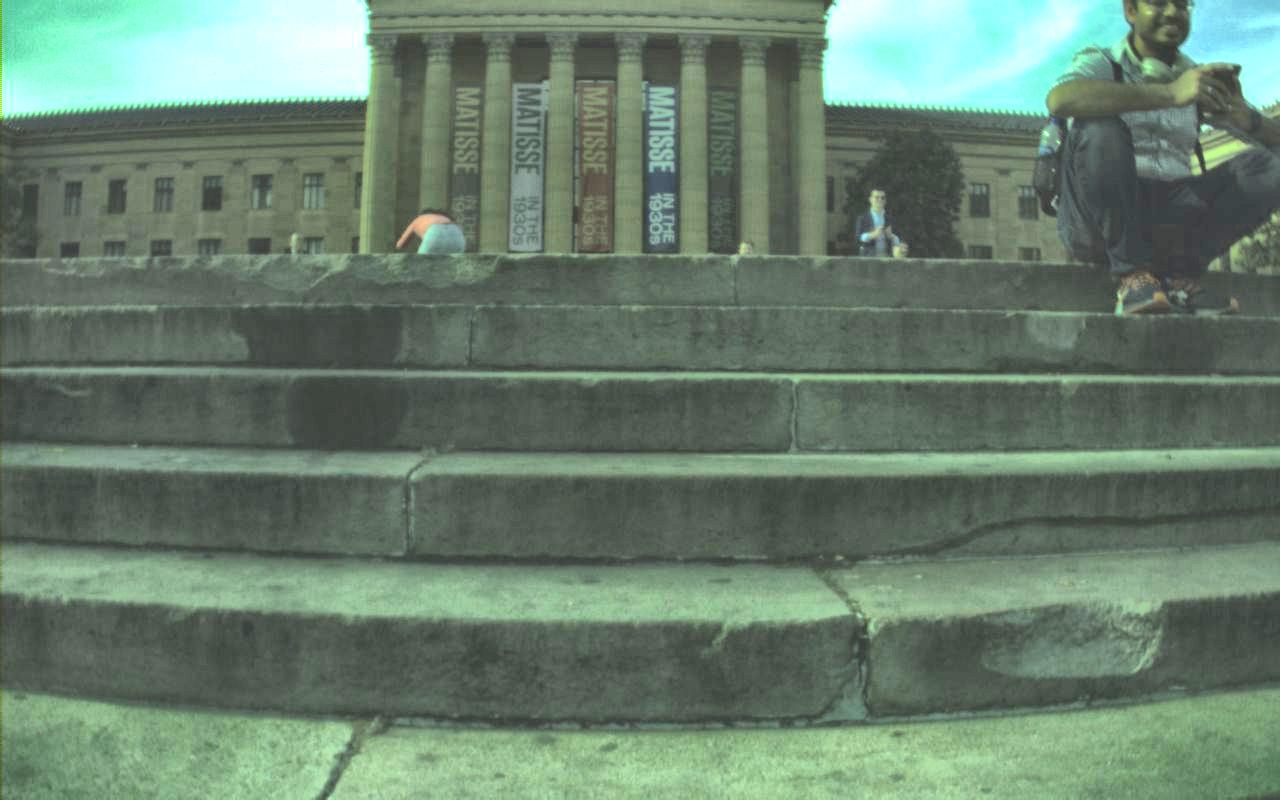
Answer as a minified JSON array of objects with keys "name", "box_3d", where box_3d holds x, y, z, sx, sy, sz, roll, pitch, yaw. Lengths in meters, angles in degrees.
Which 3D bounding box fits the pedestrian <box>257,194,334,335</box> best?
[{"name":"pedestrian","box_3d":[-4.331,-1.658,15.261,0.782,1.695,0.771,0,0,-30]}]

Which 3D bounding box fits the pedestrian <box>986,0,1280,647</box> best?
[{"name":"pedestrian","box_3d":[1.285,-0.374,2.882,0.815,1.780,0.985,0,0,14]}]

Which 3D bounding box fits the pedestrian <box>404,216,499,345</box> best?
[{"name":"pedestrian","box_3d":[-2.371,-1.458,15.625,0.845,1.540,0.861,0,0,-41]}]

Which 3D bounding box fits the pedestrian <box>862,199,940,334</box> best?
[{"name":"pedestrian","box_3d":[3.273,-1.649,15.597,0.748,1.615,0.745,0,0,-13]}]

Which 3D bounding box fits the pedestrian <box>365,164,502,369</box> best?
[{"name":"pedestrian","box_3d":[-1.806,-1.122,10.871,0.854,1.706,0.826,1,0,40]}]

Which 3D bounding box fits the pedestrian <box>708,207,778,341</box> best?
[{"name":"pedestrian","box_3d":[1.290,-1.549,15.648,0.800,1.606,0.818,0,0,10]}]

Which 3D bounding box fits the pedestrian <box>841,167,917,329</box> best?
[{"name":"pedestrian","box_3d":[2.740,-1.719,14.312,0.801,1.794,0.794,0,0,5]}]
